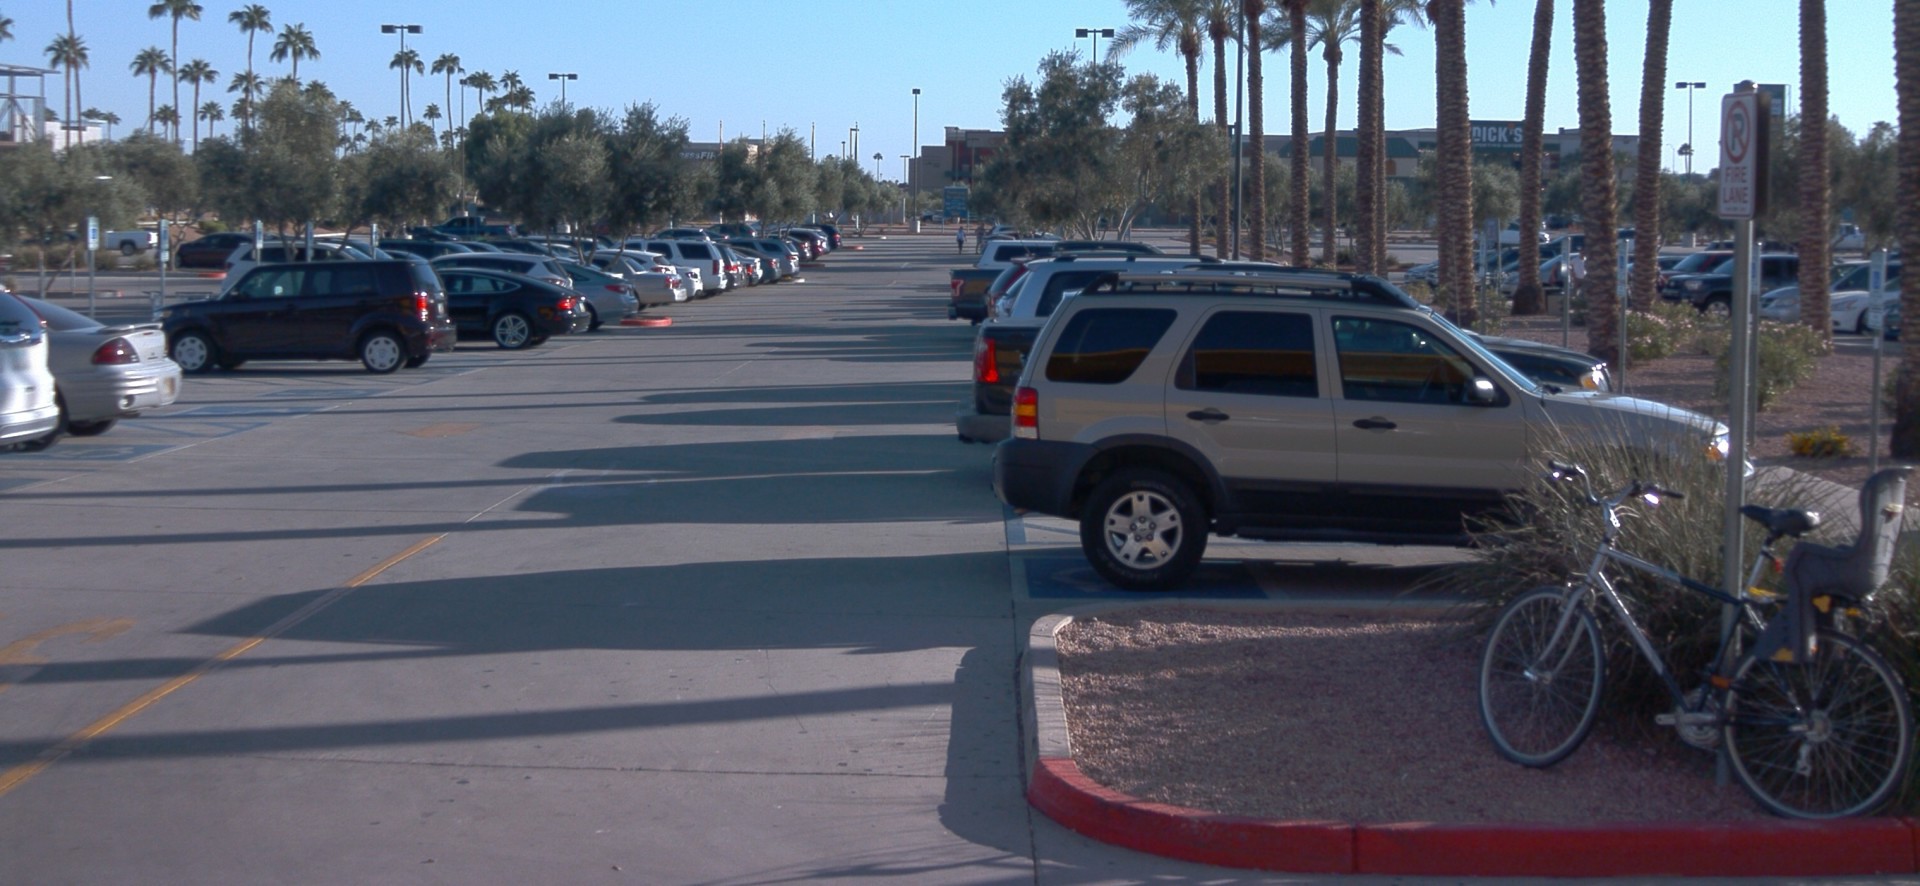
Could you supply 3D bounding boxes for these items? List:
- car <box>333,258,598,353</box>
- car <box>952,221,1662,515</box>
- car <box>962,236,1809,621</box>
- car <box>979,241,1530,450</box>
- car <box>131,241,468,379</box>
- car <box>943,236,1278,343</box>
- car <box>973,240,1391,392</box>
[{"bbox_3d":[-8.565,-2.418,36.209,4.169,1.516,1.898,1,4,-2],"label":"car"},{"bbox_3d":[2.654,-0.693,16.885,5.349,2.135,2.267,1,4,1],"label":"car"},{"bbox_3d":[2.427,-0.204,12.465,4.569,1.986,2.008,2,3,7],"label":"car"},{"bbox_3d":[2.723,-1.008,19.926,4.916,1.765,2.428,1,4,4],"label":"car"},{"bbox_3d":[-9.309,-1.915,29.479,4.169,1.816,1.897,1,3,-2],"label":"car"},{"bbox_3d":[2.740,-2.925,39.074,6.084,1.845,2.452,1,4,-1],"label":"car"},{"bbox_3d":[2.740,-1.666,26.498,5.084,1.755,2.150,1,4,1],"label":"car"}]
